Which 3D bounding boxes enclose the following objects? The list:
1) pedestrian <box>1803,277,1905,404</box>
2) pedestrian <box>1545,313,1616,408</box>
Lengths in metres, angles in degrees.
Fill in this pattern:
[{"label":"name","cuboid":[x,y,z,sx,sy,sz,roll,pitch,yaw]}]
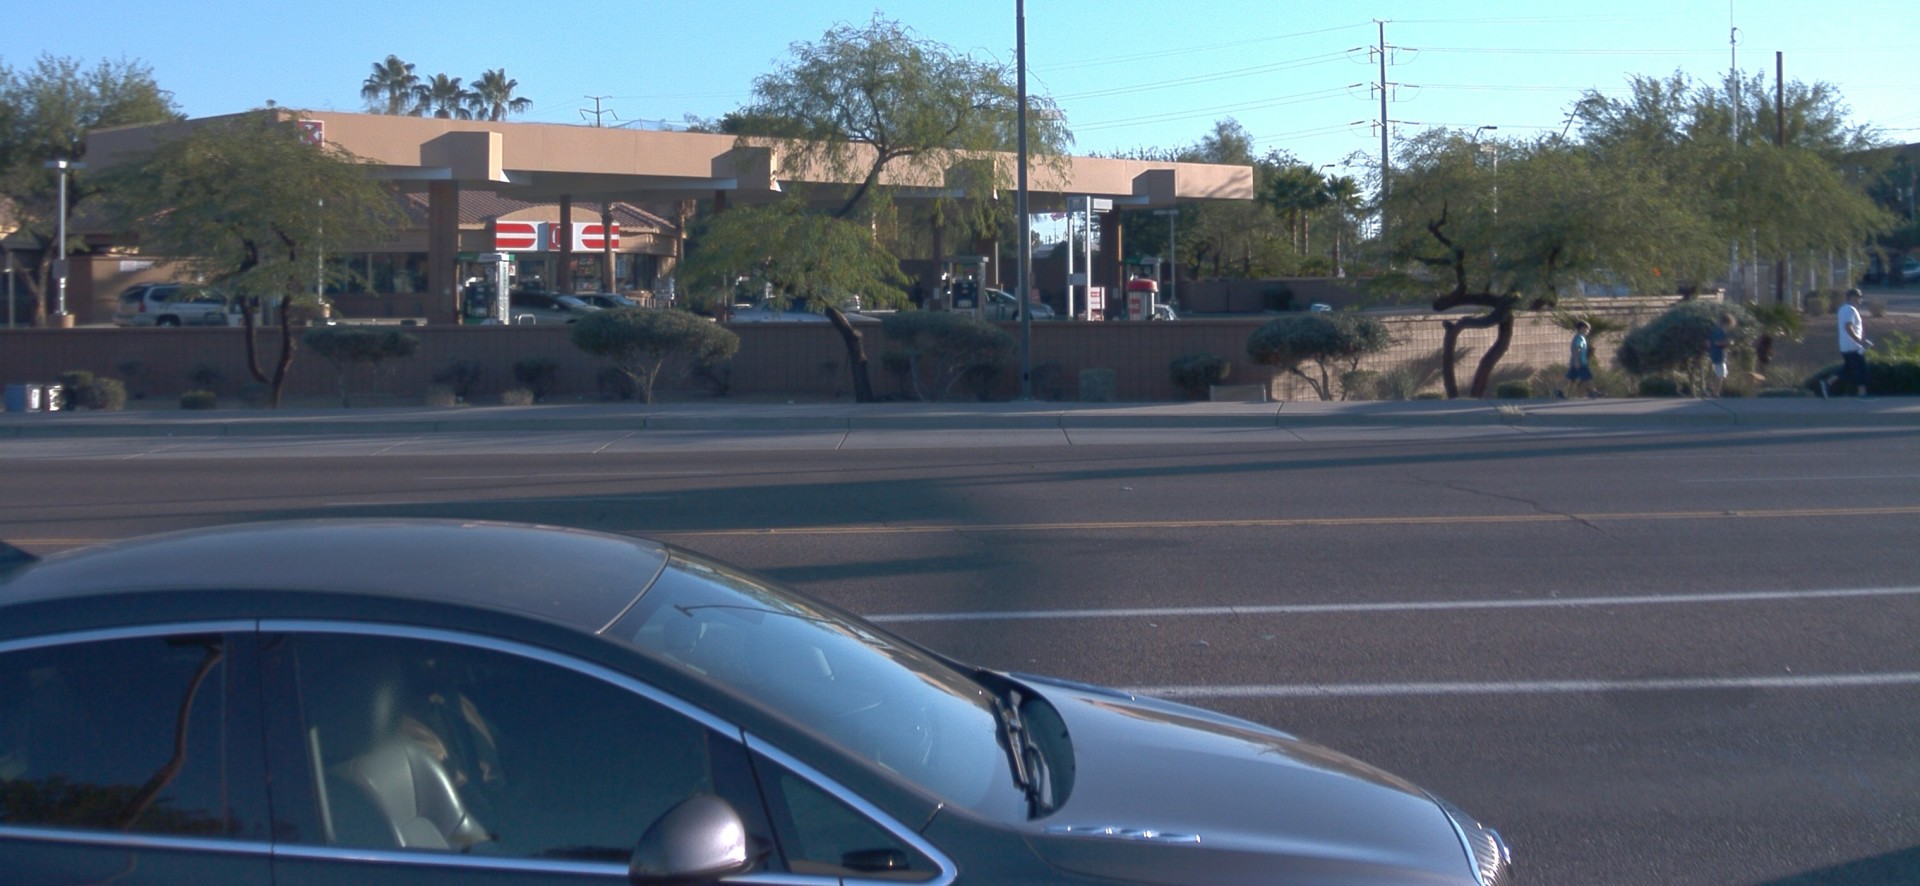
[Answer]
[{"label":"pedestrian","cuboid":[12.851,-1.483,29.873,1.150,1.777,0.864,0,1,7]},{"label":"pedestrian","cuboid":[9.213,-1.233,30.843,0.912,1.360,0.780,0,1,9]}]
